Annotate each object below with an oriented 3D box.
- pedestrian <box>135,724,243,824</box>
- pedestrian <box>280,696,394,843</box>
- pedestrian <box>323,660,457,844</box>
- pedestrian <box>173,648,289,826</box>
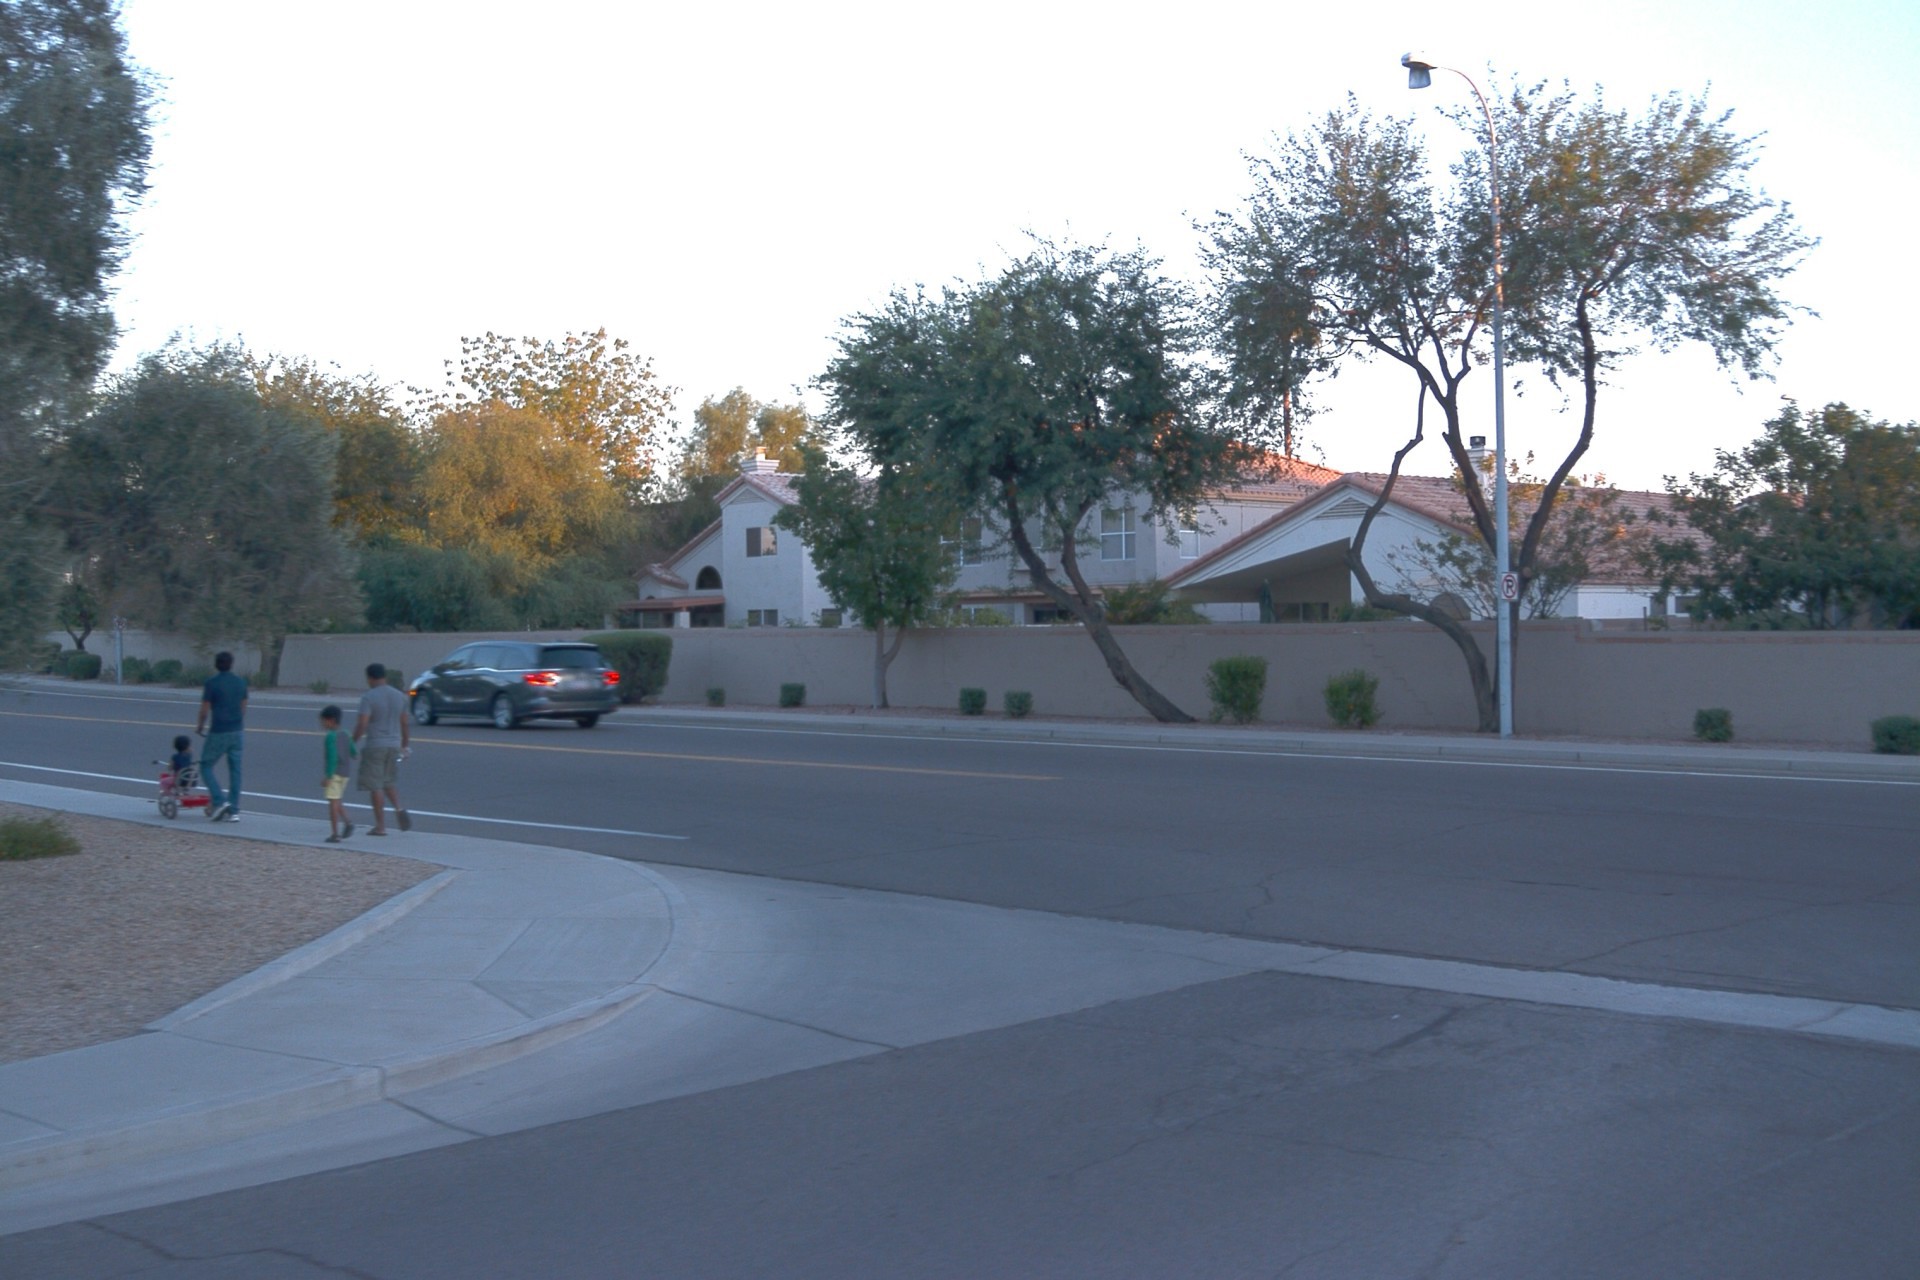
[{"bbox_3d":[-8.231,1.418,22.103,1.055,0.980,0.634,1,1,40],"label":"pedestrian"},{"bbox_3d":[-5.838,1.192,19.402,0.742,1.300,0.748,1,1,44],"label":"pedestrian"},{"bbox_3d":[-5.499,1.050,19.980,0.910,1.690,0.944,0,1,-43],"label":"pedestrian"},{"bbox_3d":[-7.605,0.985,21.610,0.923,1.780,0.781,1,1,41],"label":"pedestrian"}]
